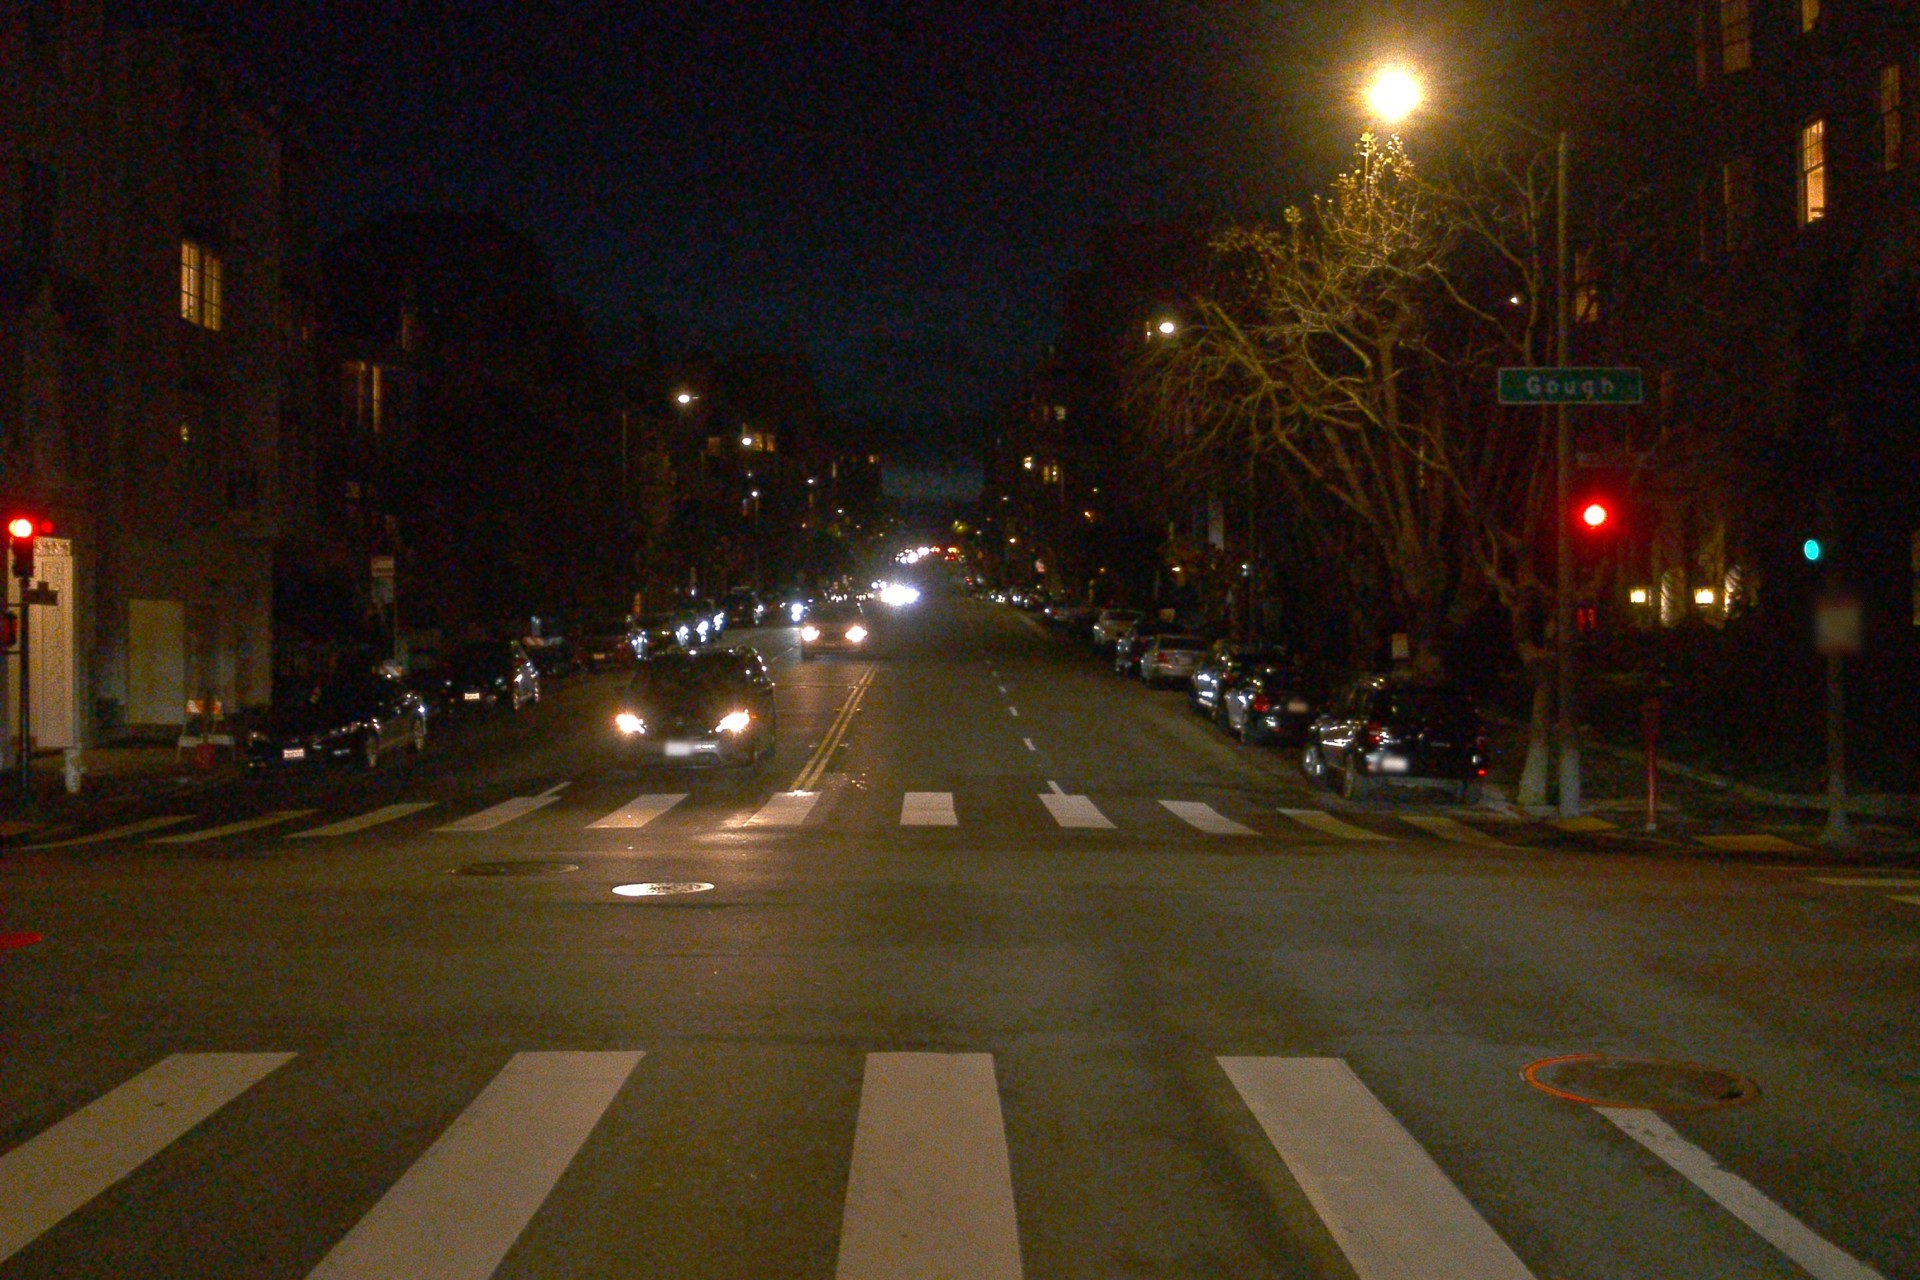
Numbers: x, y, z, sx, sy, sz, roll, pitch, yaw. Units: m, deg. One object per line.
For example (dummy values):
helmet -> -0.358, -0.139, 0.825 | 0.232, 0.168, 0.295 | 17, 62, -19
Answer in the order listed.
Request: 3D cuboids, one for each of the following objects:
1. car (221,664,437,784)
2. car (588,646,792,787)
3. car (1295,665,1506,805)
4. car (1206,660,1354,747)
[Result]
car -> -10.055, 1.292, 33.210 | 2.045, 1.673, 4.519 | 1, 0, 0
car -> -3.807, 1.031, 29.922 | 2.293, 1.803, 4.677 | 1, 0, 0
car -> 6.078, 1.260, 28.895 | 1.802, 1.714, 4.078 | 1, 0, -4
car -> 5.813, 1.129, 37.883 | 1.802, 1.404, 4.078 | 1, 0, -4
